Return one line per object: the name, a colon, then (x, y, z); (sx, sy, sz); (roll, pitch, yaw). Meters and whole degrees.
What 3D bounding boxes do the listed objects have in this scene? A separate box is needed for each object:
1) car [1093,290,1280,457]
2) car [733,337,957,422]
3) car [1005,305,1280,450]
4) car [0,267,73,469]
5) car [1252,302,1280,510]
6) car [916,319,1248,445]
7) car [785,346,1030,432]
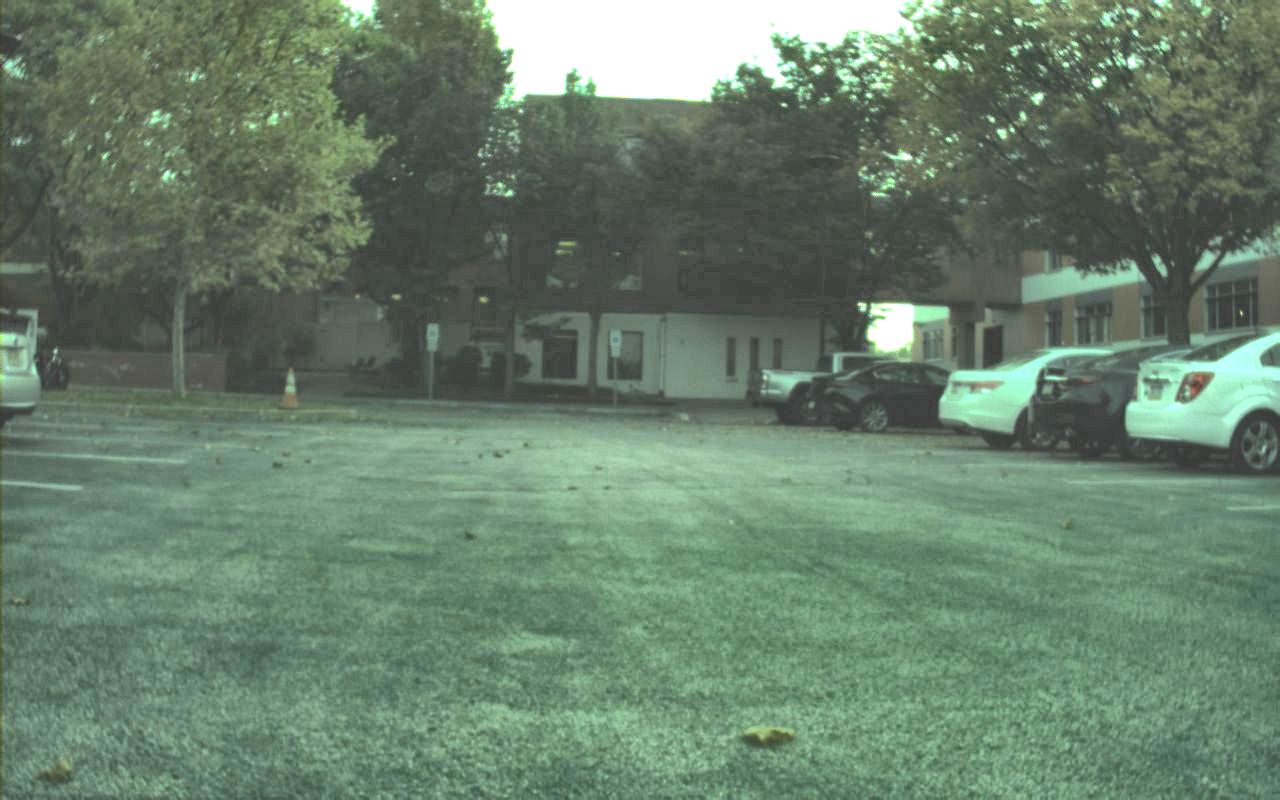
car: (7.181, -0.240, 12.254); (4.379, 1.595, 1.900); (0, 1, -5)
car: (4.873, -0.472, 29.908); (5.010, 1.917, 2.098); (0, 1, -8)
car: (6.897, -0.251, 14.686); (4.425, 1.615, 1.922); (0, 1, -7)
car: (-7.794, -0.272, 10.038); (4.575, 1.701, 2.008); (0, 1, -6)
car: (7.847, 0.072, 9.552); (4.406, 1.628, 1.949); (0, 1, -5)
car: (6.368, -0.231, 17.192); (4.596, 1.642, 1.963); (0, 1, -4)
car: (5.384, -0.222, 24.884); (4.592, 1.601, 1.959); (0, 1, -15)
